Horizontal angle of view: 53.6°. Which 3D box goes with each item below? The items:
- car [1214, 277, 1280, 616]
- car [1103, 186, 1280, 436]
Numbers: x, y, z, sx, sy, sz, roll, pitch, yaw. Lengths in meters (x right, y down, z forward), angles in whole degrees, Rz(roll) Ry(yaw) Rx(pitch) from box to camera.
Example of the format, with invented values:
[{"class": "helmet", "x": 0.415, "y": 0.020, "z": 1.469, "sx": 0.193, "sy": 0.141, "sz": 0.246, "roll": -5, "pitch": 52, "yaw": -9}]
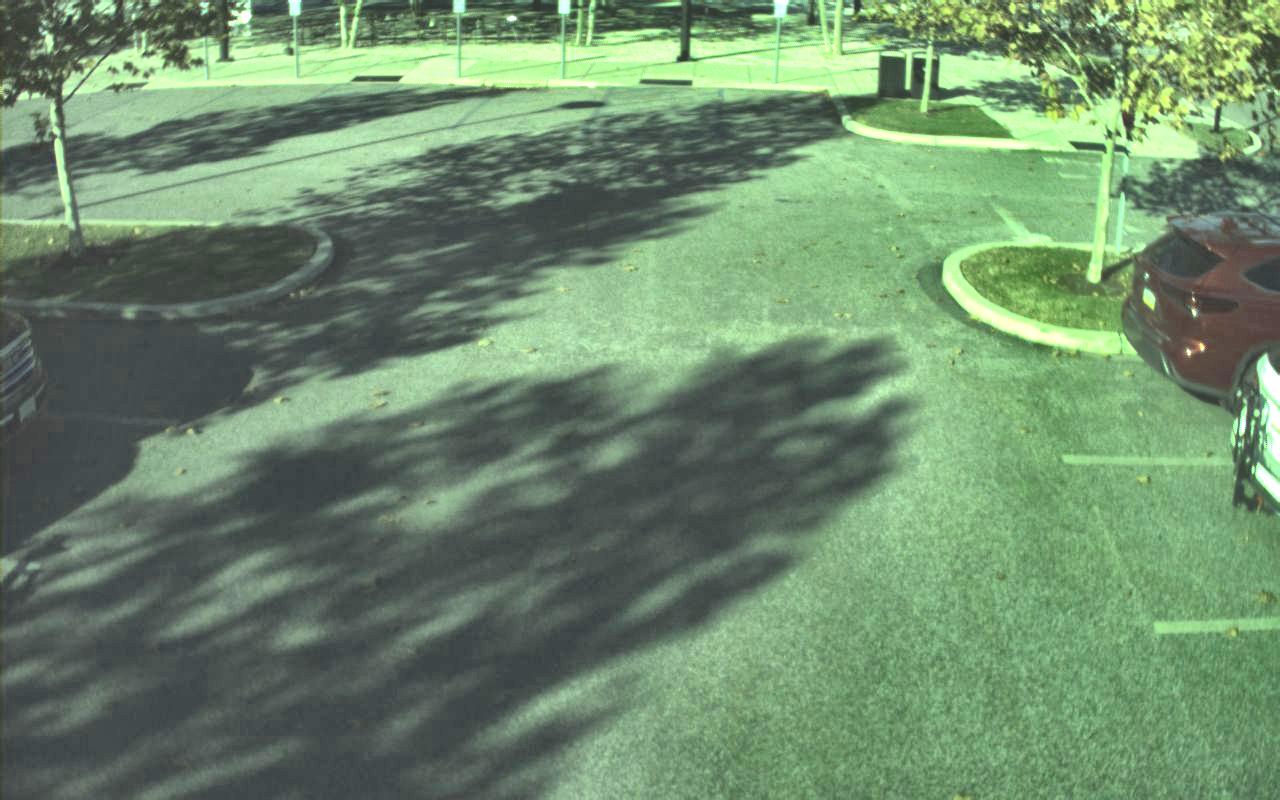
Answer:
[{"class": "car", "x": 6.637, "y": 0.235, "z": 7.599, "sx": 4.518, "sy": 1.780, "sz": 2.008, "roll": -1, "pitch": 16, "yaw": 1}, {"class": "car", "x": 6.639, "y": -0.866, "z": 10.286, "sx": 4.426, "sy": 1.779, "sz": 1.996, "roll": -1, "pitch": 16, "yaw": 0}]
